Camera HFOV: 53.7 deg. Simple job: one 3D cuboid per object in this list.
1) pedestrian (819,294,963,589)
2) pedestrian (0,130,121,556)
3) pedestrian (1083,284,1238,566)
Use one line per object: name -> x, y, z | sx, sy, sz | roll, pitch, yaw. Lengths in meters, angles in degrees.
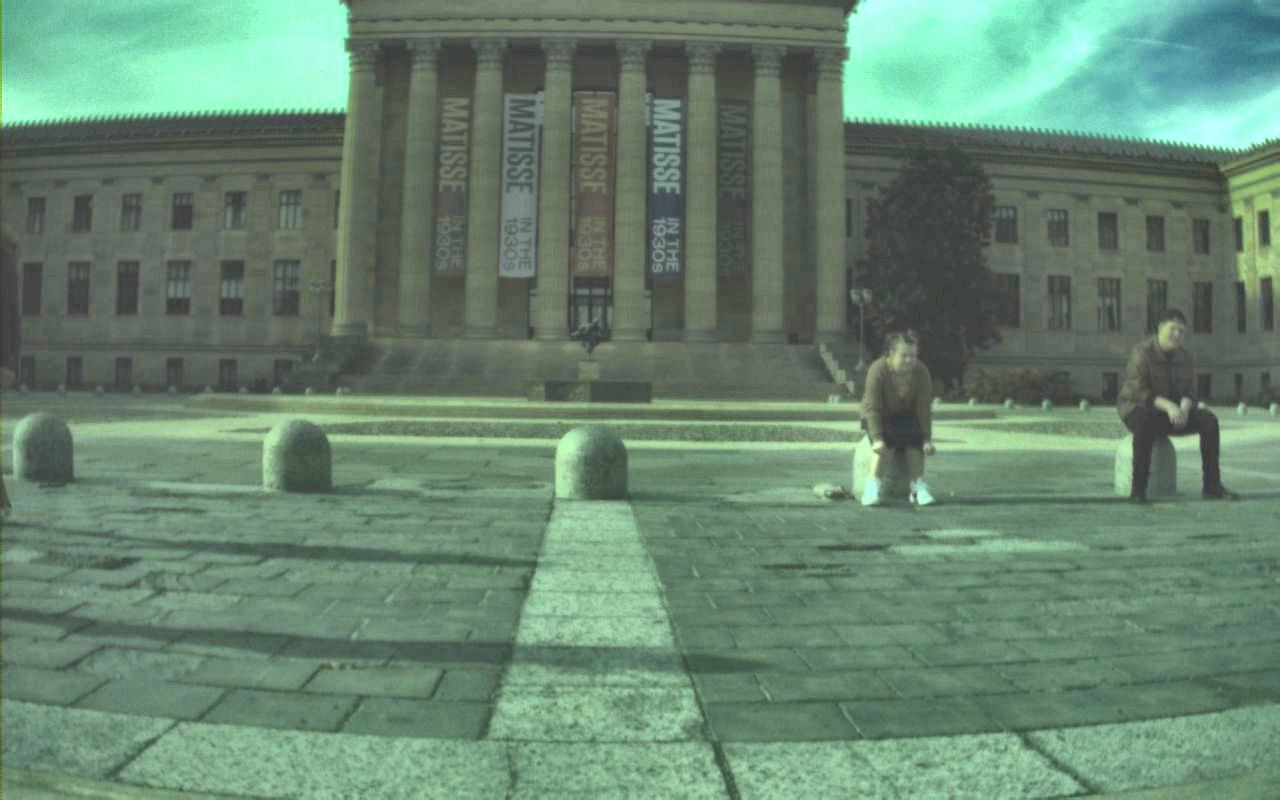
pedestrian -> 1.572, 0.245, 7.733 | 0.833, 1.747, 0.842 | 0, 0, 12
pedestrian -> -2.872, -0.238, 5.080 | 0.751, 1.787, 0.774 | 0, 0, 4
pedestrian -> 3.491, 0.170, 7.885 | 0.840, 1.789, 0.852 | 0, 0, 4
